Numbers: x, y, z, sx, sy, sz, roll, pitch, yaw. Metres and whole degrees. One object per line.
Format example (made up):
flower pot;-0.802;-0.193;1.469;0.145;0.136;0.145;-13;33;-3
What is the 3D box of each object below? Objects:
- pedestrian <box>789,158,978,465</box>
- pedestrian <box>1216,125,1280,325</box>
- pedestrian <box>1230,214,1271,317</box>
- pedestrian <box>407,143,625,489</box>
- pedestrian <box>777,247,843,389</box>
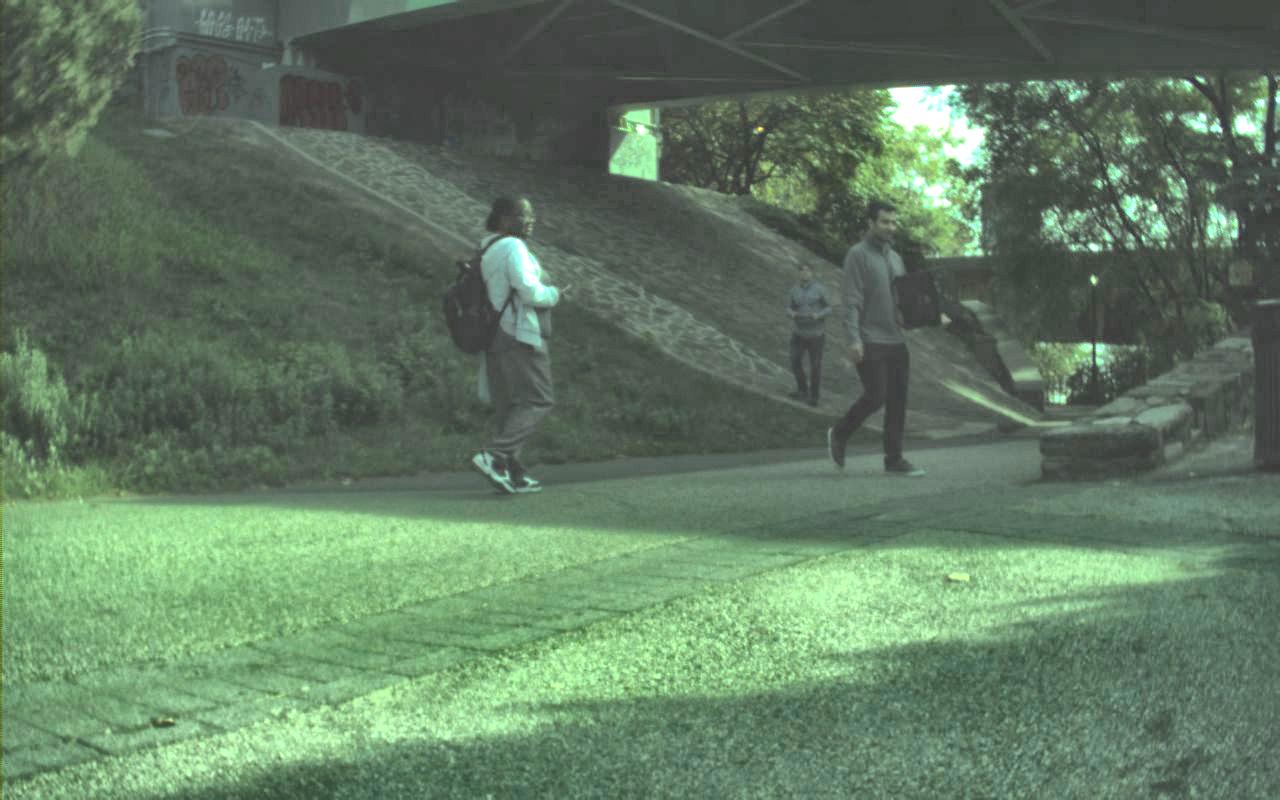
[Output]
pedestrian;1.528;-0.529;7.745;0.831;1.777;0.877;0;0;-45
pedestrian;6.014;-1.623;10.809;0.748;1.831;0.751;0;0;6
pedestrian;11.109;-2.378;20.682;0.679;1.822;0.734;1;0;22
pedestrian;-0.685;-0.442;6.944;0.815;1.762;0.878;1;0;37
pedestrian;2.169;-1.029;16.000;0.820;1.754;0.841;0;0;8
